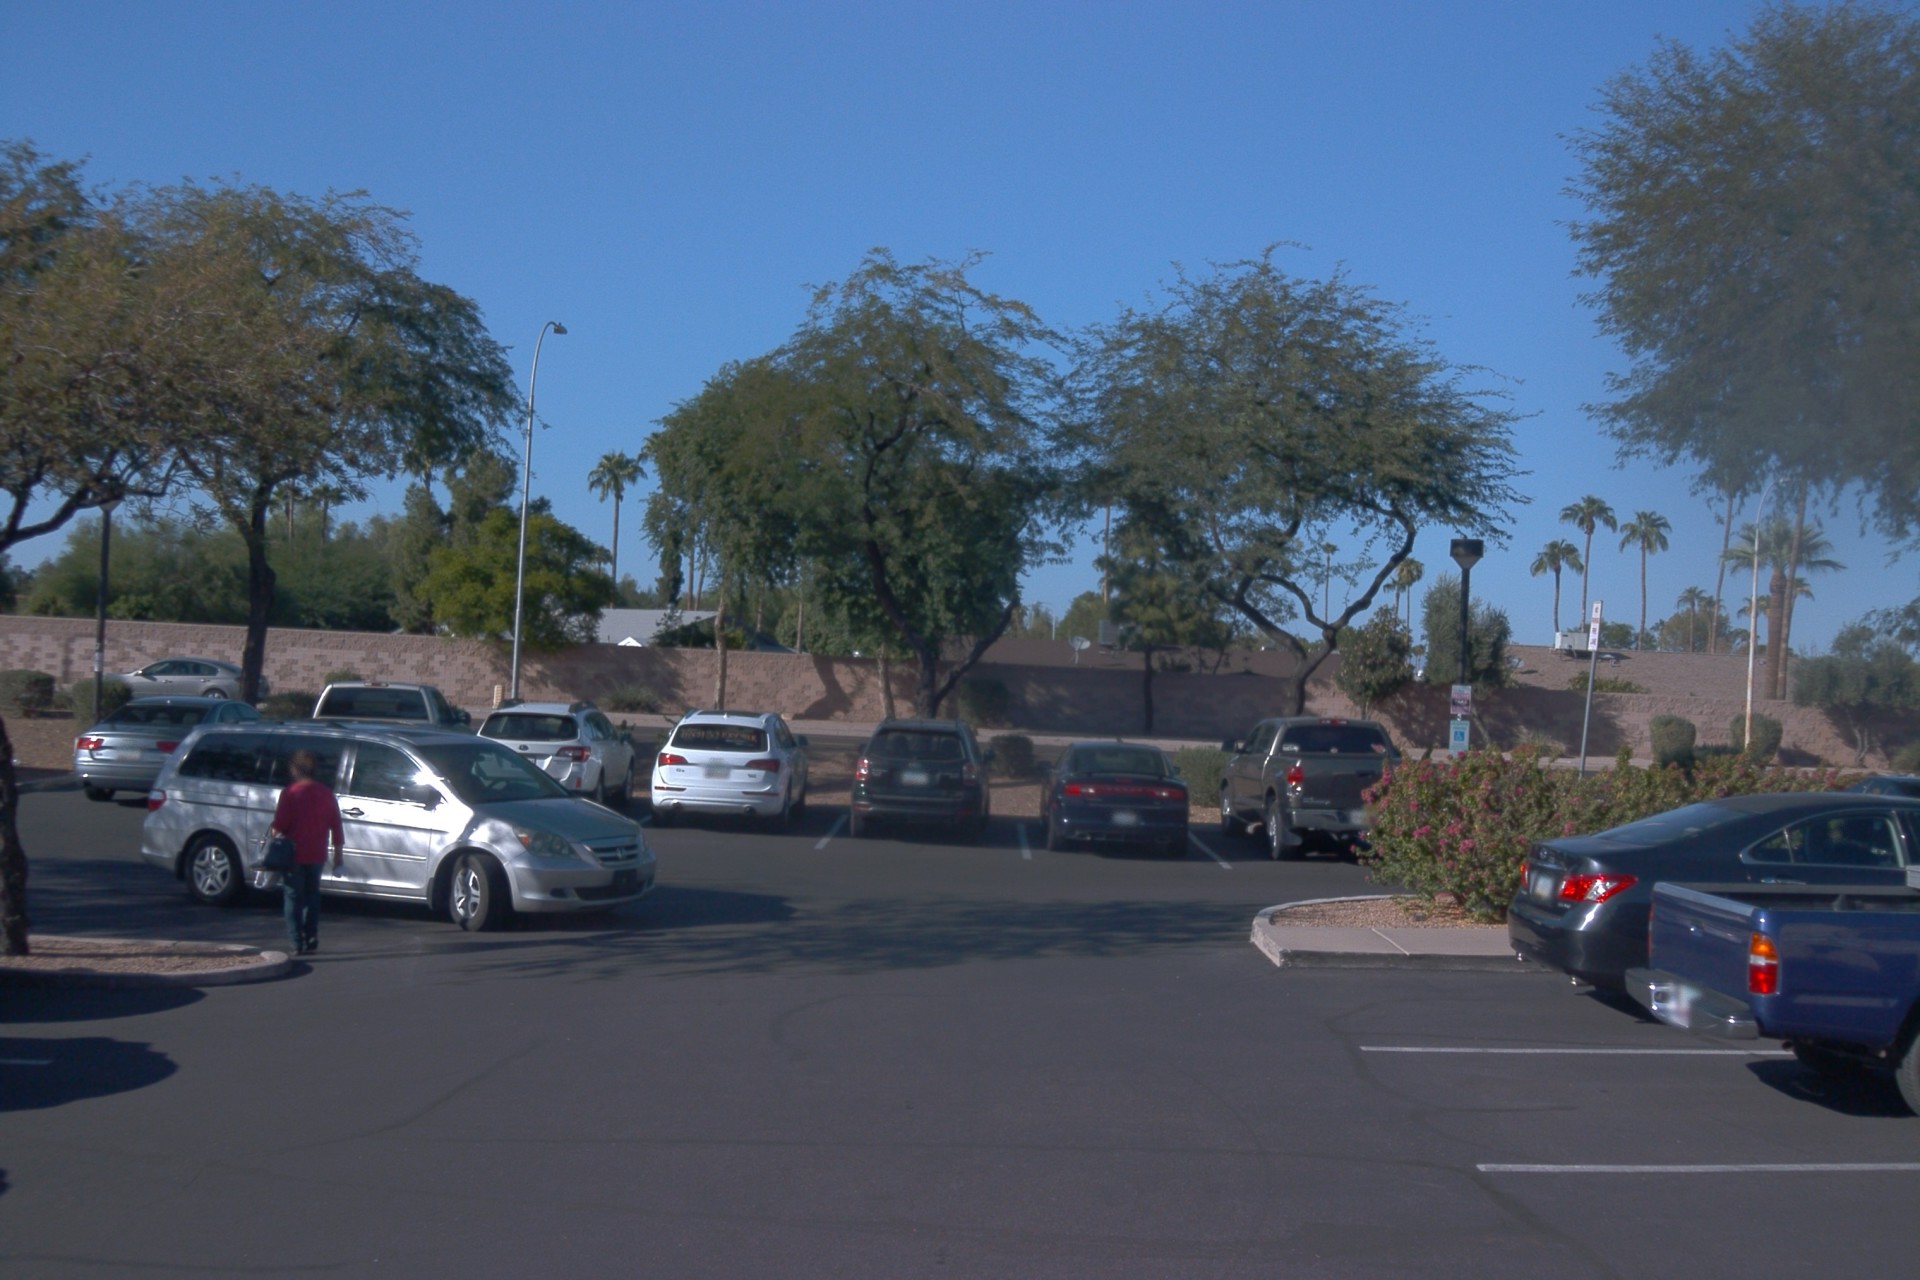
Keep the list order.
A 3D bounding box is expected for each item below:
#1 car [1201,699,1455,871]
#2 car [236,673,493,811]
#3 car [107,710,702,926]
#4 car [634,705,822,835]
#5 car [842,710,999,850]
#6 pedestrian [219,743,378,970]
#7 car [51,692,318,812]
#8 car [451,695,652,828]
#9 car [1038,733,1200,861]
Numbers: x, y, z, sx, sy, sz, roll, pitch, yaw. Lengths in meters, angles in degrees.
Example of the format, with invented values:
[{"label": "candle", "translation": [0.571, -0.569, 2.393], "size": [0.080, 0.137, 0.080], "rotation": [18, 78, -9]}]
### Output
[{"label": "car", "translation": [5.114, 1.963, 29.760], "size": [2.293, 2.160, 5.703], "rotation": [1, -1, -3]}, {"label": "car", "translation": [-8.605, 1.426, 30.493], "size": [2.243, 1.840, 4.834], "rotation": [1, -1, 2]}, {"label": "car", "translation": [-5.211, 1.558, 19.429], "size": [5.080, 1.700, 2.264], "rotation": [0, -1, 25]}, {"label": "car", "translation": [-3.290, 1.836, 30.292], "size": [2.131, 1.680, 4.319], "rotation": [1, -1, 1]}, {"label": "car", "translation": [-0.488, 1.944, 29.861], "size": [2.054, 1.790, 4.106], "rotation": [1, -1, 1]}, {"label": "pedestrian", "translation": [-5.251, 1.677, 16.444], "size": [0.982, 1.680, 1.039], "rotation": [1, -1, -30]}, {"label": "car", "translation": [-11.085, 1.555, 30.035], "size": [1.997, 1.540, 4.604], "rotation": [1, -1, 2]}, {"label": "car", "translation": [-5.865, 1.708, 30.272], "size": [1.951, 1.740, 4.339], "rotation": [1, -1, 1]}, {"label": "car", "translation": [2.176, 2.160, 29.526], "size": [2.065, 1.540, 4.526], "rotation": [1, -1, 1]}]
